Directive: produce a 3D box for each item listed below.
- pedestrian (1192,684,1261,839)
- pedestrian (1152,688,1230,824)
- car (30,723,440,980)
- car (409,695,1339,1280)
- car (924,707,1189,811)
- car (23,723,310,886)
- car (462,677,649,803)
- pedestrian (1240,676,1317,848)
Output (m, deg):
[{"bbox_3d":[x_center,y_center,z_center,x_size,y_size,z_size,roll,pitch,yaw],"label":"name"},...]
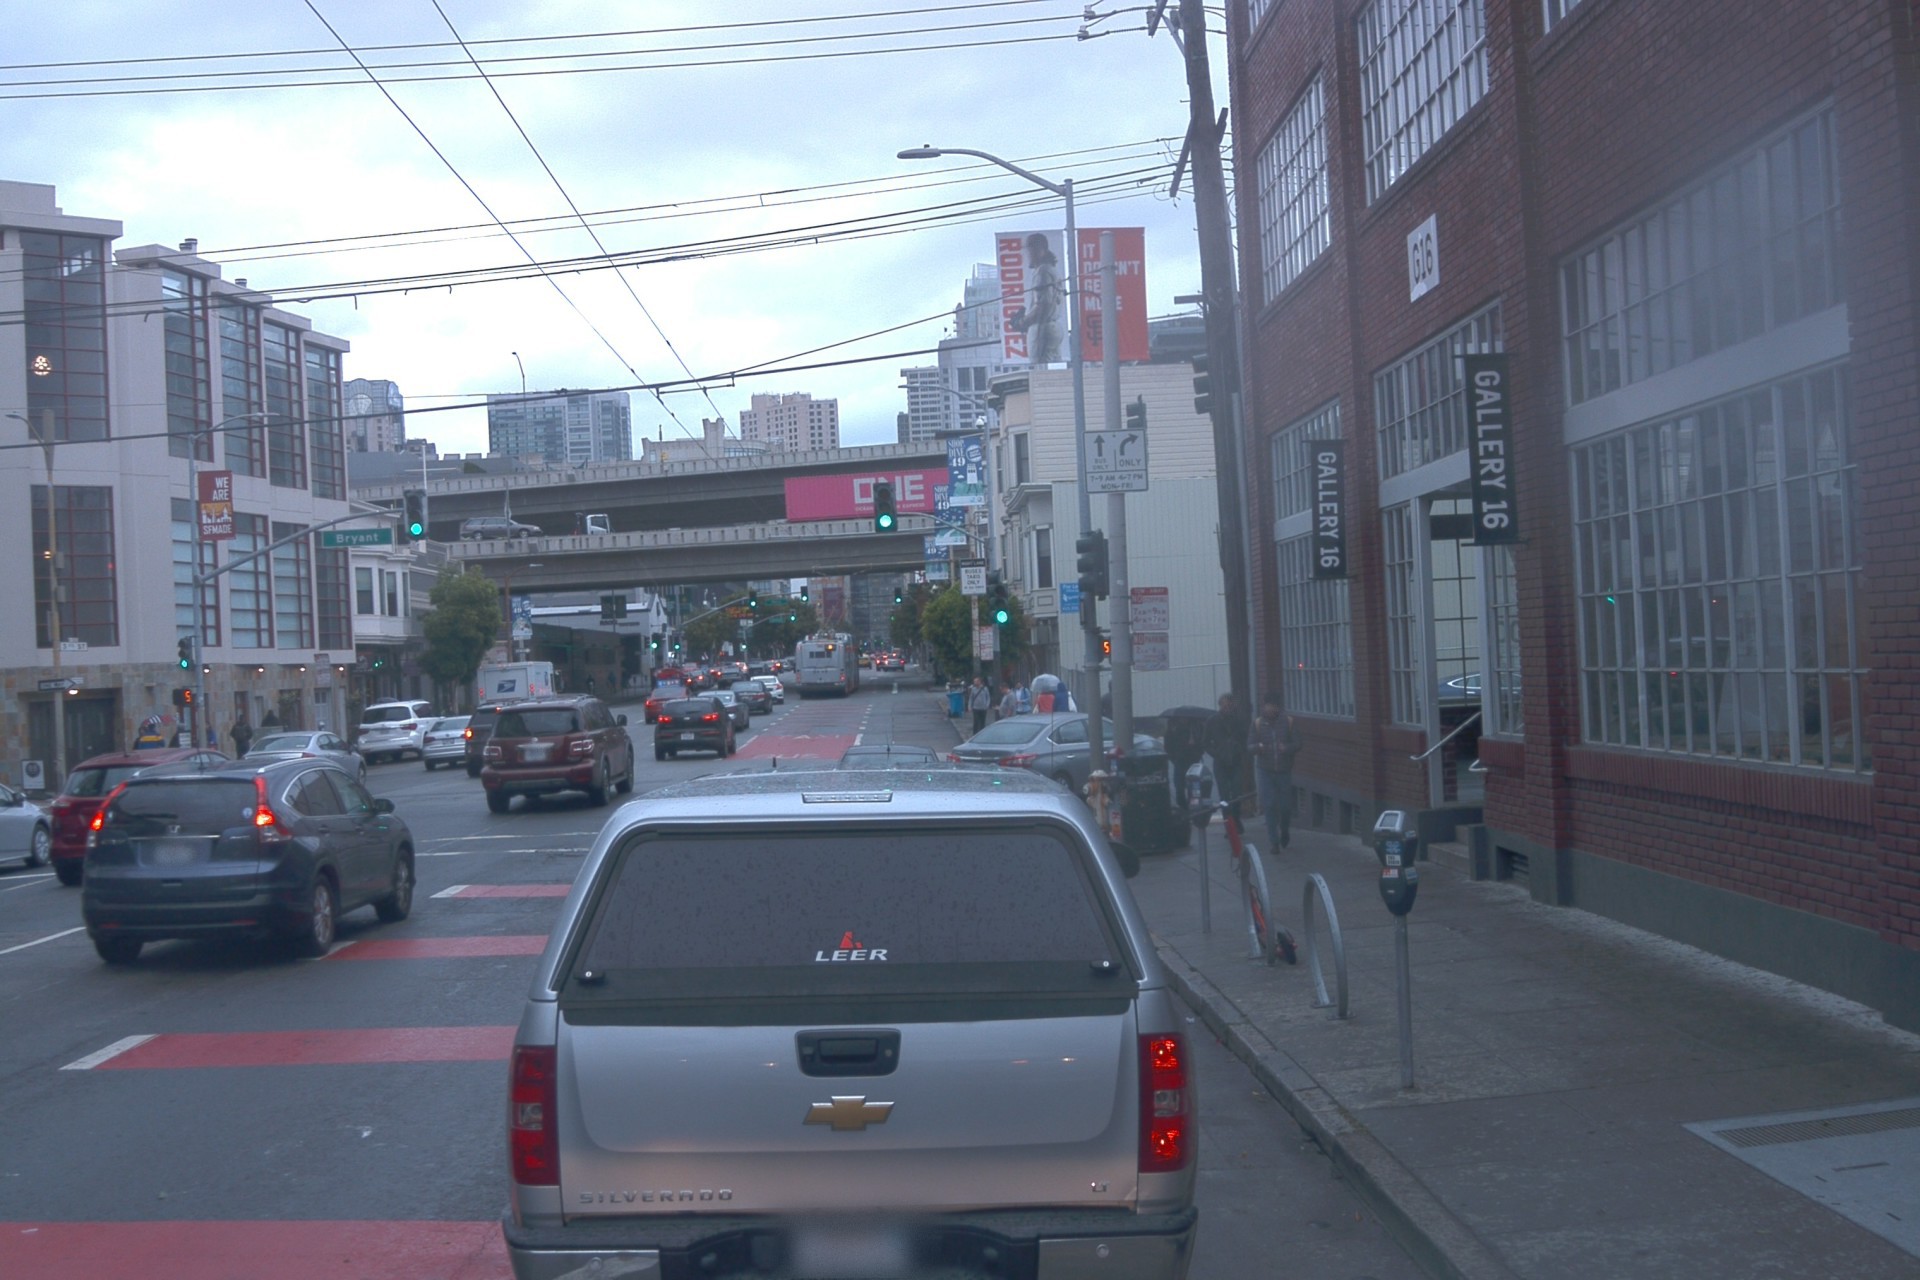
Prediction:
[{"bbox_3d":[3.289,1.485,25.658,0.749,1.870,0.954,0,-1,2],"label":"pedestrian"},{"bbox_3d":[3.245,1.612,29.210,1.015,1.870,1.039,0,-1,3],"label":"pedestrian"},{"bbox_3d":[-6.169,1.721,18.298,2.073,1.860,4.587,0,-1,-1],"label":"car"},{"bbox_3d":[-0.325,1.288,8.164,2.411,2.070,5.546,0,-1,-2],"label":"car"},{"bbox_3d":[1.640,1.892,33.961,2.070,1.500,4.415,-1,-1,40],"label":"car"},{"bbox_3d":[-10.207,2.055,27.083,2.107,1.830,4.538,0,-1,-1],"label":"car"},{"bbox_3d":[-7.167,1.715,37.375,2.420,2.080,5.314,0,-1,-1],"label":"car"},{"bbox_3d":[3.437,1.303,22.453,0.763,1.820,0.915,0,-1,5],"label":"pedestrian"}]
